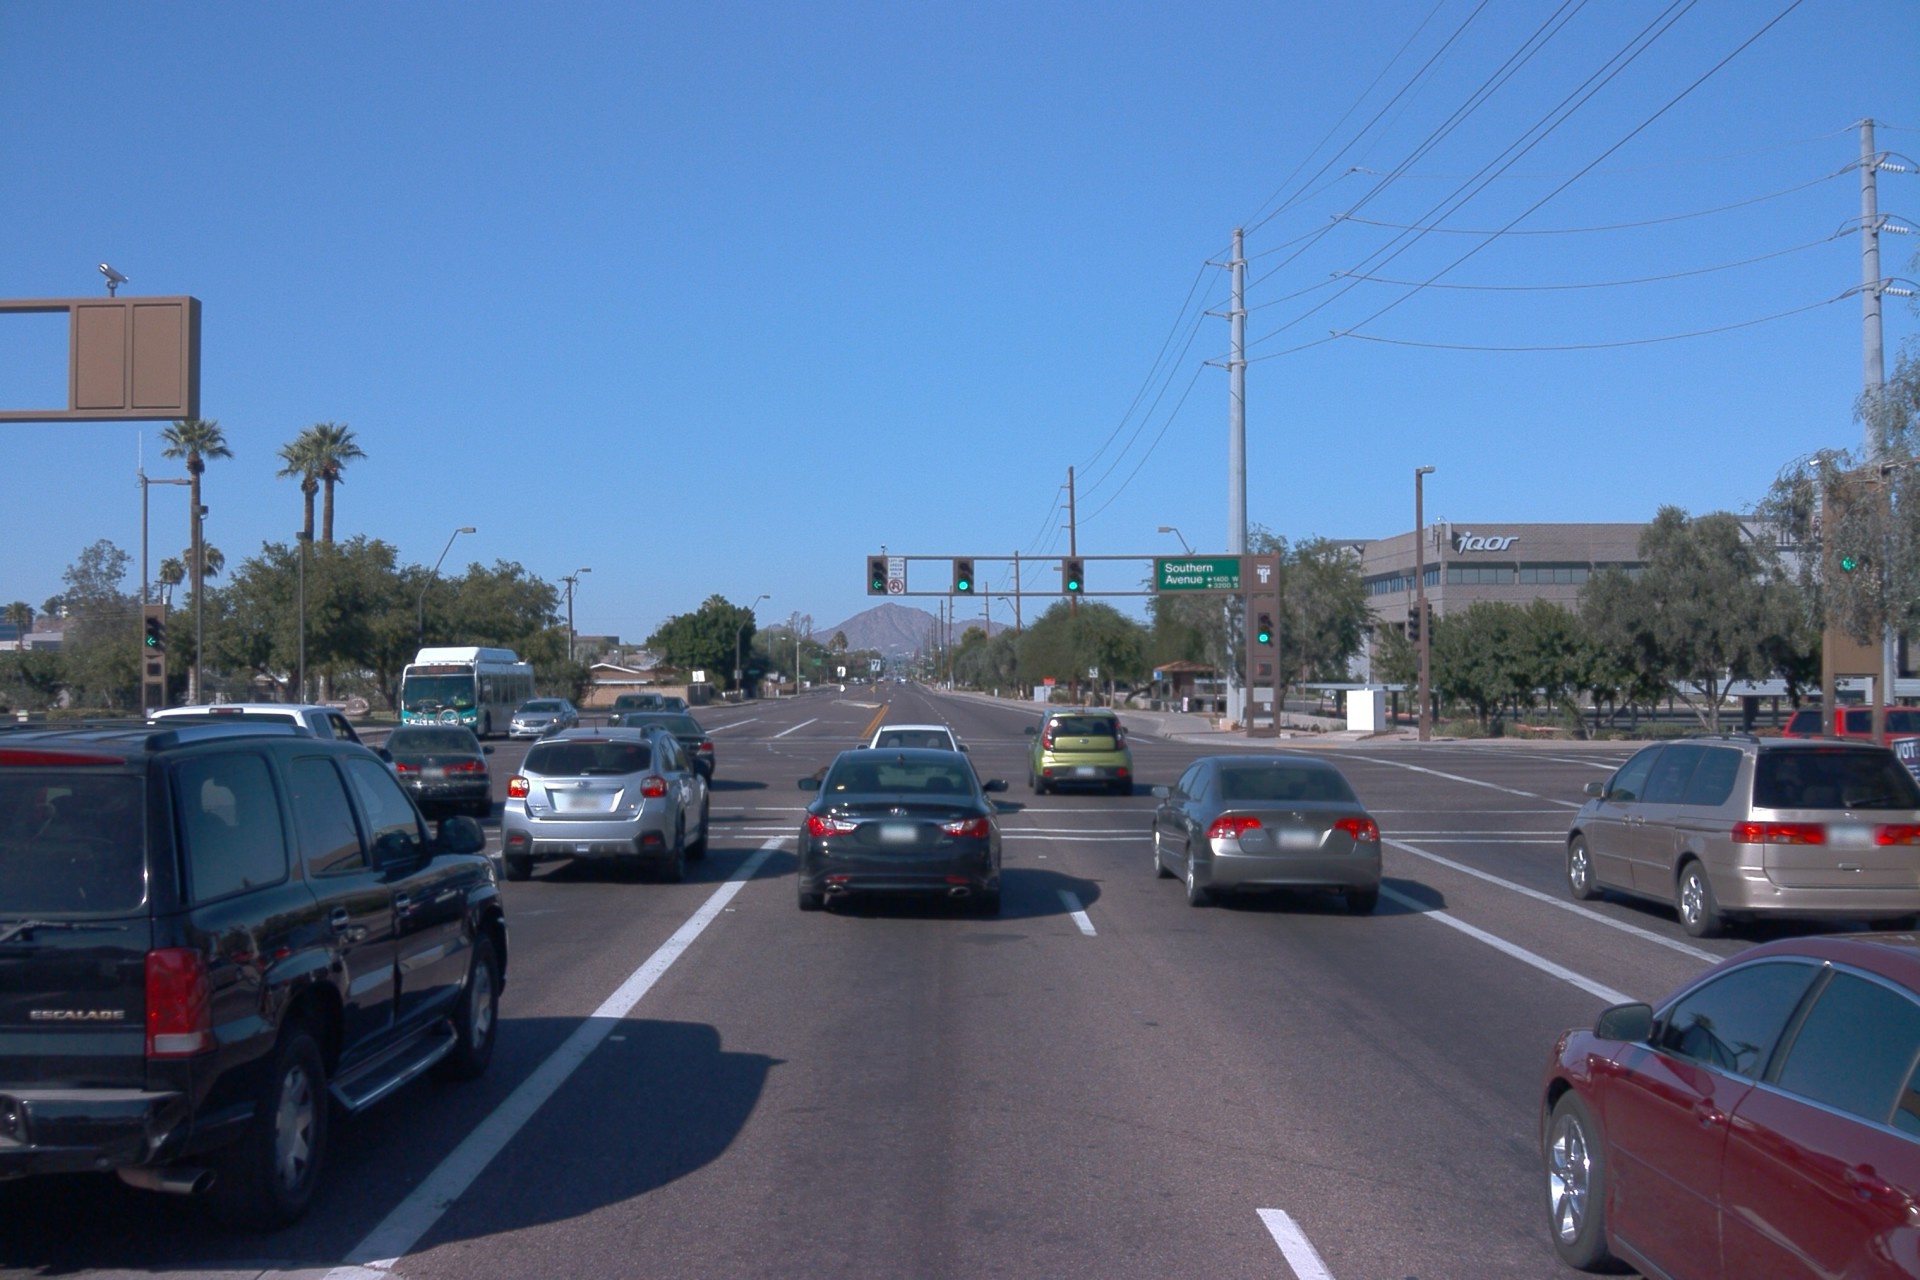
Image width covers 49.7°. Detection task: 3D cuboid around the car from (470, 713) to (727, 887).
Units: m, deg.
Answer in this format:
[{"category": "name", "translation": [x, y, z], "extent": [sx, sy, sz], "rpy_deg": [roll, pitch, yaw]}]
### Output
[{"category": "car", "translation": [-3.791, 1.646, 22.606], "extent": [2.077, 1.610, 4.768], "rpy_deg": [0, -1, -1]}]

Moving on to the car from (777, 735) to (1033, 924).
[{"category": "car", "translation": [-0.514, 1.716, 19.965], "extent": [2.156, 1.470, 4.806], "rpy_deg": [0, -1, -1]}]

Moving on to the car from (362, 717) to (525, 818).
[{"category": "car", "translation": [-8.295, 1.963, 32.954], "extent": [2.080, 1.400, 5.003], "rpy_deg": [1, -1, -19]}]

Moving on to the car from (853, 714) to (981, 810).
[{"category": "car", "translation": [-0.738, 1.971, 34.510], "extent": [1.969, 1.400, 5.049], "rpy_deg": [0, -1, -2]}]

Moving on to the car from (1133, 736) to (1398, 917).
[{"category": "car", "translation": [2.942, 1.785, 20.935], "extent": [1.907, 1.500, 4.575], "rpy_deg": [0, -1, -1]}]
